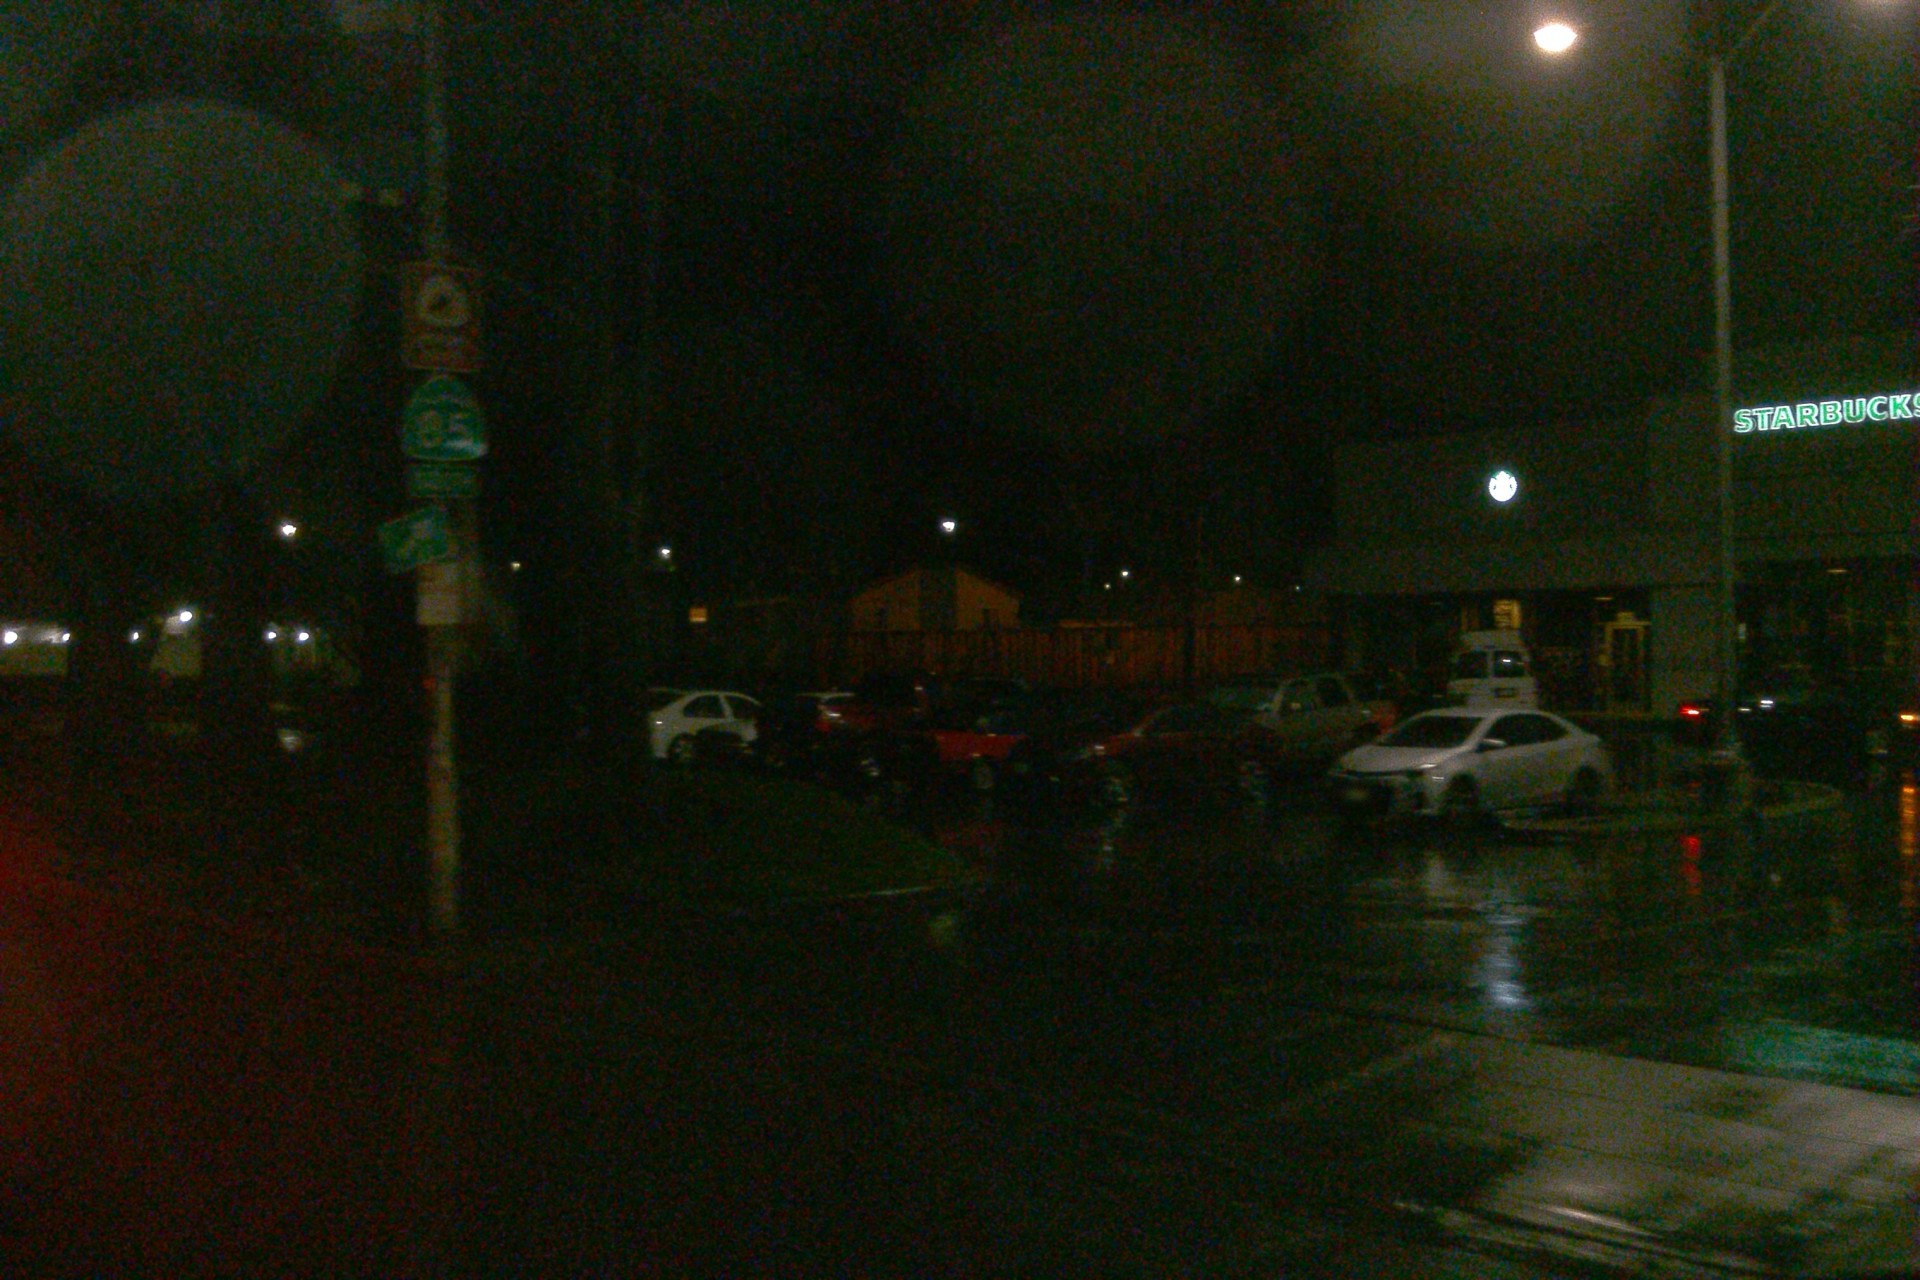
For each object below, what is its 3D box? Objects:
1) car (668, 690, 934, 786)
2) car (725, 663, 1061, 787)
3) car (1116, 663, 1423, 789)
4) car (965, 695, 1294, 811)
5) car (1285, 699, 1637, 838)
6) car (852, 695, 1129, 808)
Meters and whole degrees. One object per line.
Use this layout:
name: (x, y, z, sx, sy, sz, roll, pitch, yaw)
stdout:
car: (-2.789, 1.710, 37.078, 4.304, 1.570, 2.018, 2, -1, -39)
car: (-1.039, 1.382, 34.670, 5.299, 1.870, 2.359, 2, -1, -43)
car: (5.347, 1.441, 35.747, 5.038, 1.960, 2.414, 2, -1, -40)
car: (2.543, 1.613, 30.647, 4.659, 1.510, 2.134, 2, -1, -41)
car: (6.451, 1.575, 26.614, 4.575, 1.570, 2.131, 2, -1, -42)
car: (0.529, 1.709, 32.829, 4.167, 1.620, 1.910, 2, -1, -43)
